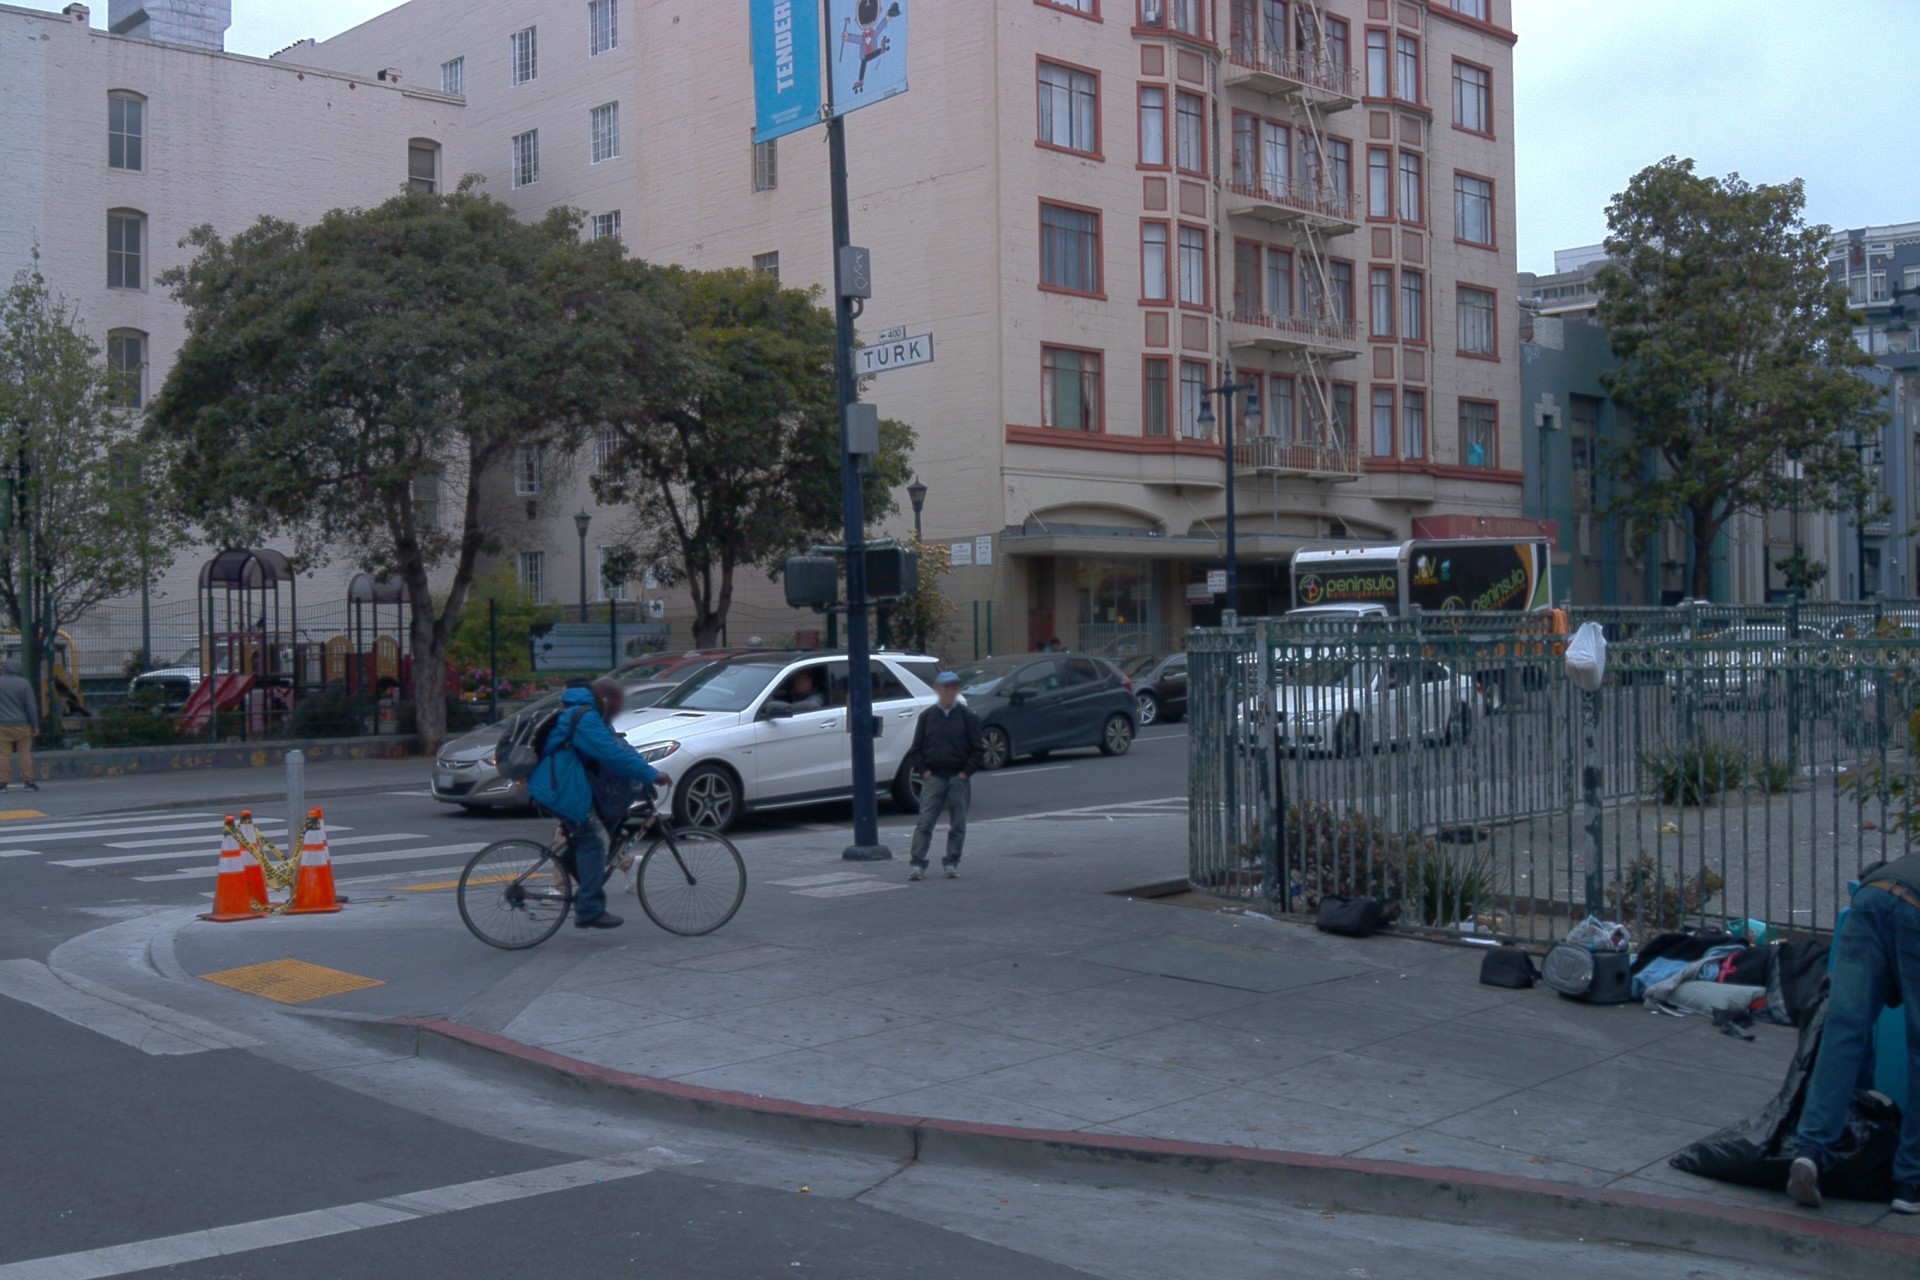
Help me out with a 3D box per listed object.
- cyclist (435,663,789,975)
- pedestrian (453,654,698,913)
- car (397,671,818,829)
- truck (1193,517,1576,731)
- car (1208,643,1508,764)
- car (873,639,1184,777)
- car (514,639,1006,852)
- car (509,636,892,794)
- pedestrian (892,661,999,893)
[{"bbox_3d":[-2.138,1.033,12.626,1.953,1.750,1.012,0,1,-21],"label":"cyclist"},{"bbox_3d":[-2.747,0.973,14.787,1.115,1.720,1.309,1,1,44],"label":"pedestrian"},{"bbox_3d":[-3.974,1.179,23.799,4.454,1.540,1.957,-1,1,-44],"label":"car"},{"bbox_3d":[7.592,-0.290,36.375,7.101,3.420,2.936,-1,1,-42],"label":"truck"},{"bbox_3d":[5.700,0.828,29.212,1.930,1.520,4.584,1,1,45],"label":"car"},{"bbox_3d":[1.014,0.874,28.691,4.317,1.730,1.853,-1,1,-45],"label":"car"},{"bbox_3d":[-1.984,0.974,21.544,4.775,1.930,2.184,-1,1,-44],"label":"car"},{"bbox_3d":[-3.531,0.950,28.836,5.045,1.980,2.095,-1,1,-44],"label":"car"},{"bbox_3d":[-0.107,0.998,15.383,0.776,1.670,0.798,0,1,0],"label":"pedestrian"}]
